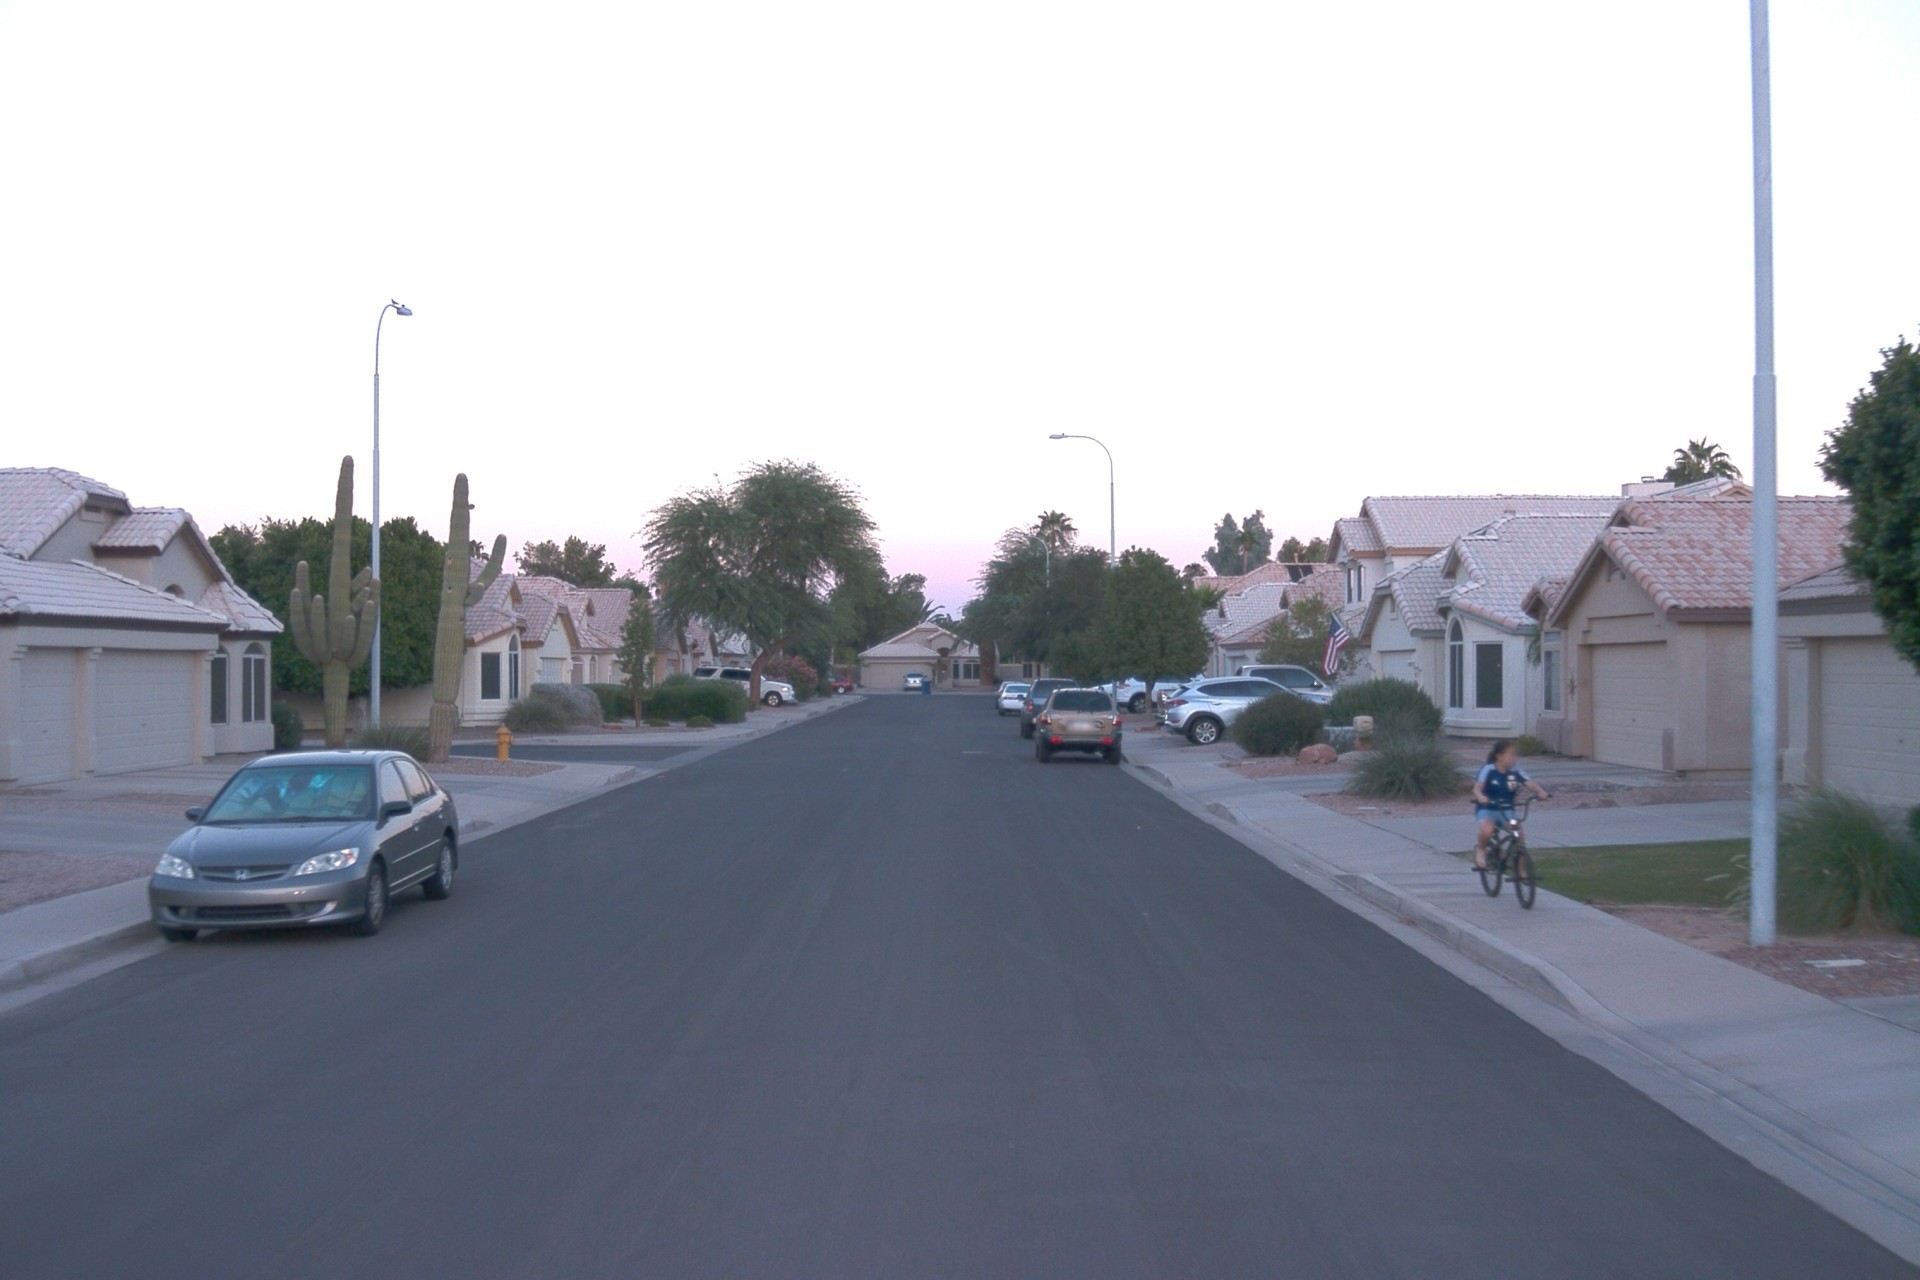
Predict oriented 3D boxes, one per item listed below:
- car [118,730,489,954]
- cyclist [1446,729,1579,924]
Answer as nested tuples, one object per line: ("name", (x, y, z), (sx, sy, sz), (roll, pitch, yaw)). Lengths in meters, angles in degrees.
("car", (-5.513, 1.636, 18.192), (1.908, 1.540, 4.629), (0, -1, -2))
("cyclist", (4.614, 1.526, 17.529), (0.746, 1.510, 1.563), (0, 0, 2))
